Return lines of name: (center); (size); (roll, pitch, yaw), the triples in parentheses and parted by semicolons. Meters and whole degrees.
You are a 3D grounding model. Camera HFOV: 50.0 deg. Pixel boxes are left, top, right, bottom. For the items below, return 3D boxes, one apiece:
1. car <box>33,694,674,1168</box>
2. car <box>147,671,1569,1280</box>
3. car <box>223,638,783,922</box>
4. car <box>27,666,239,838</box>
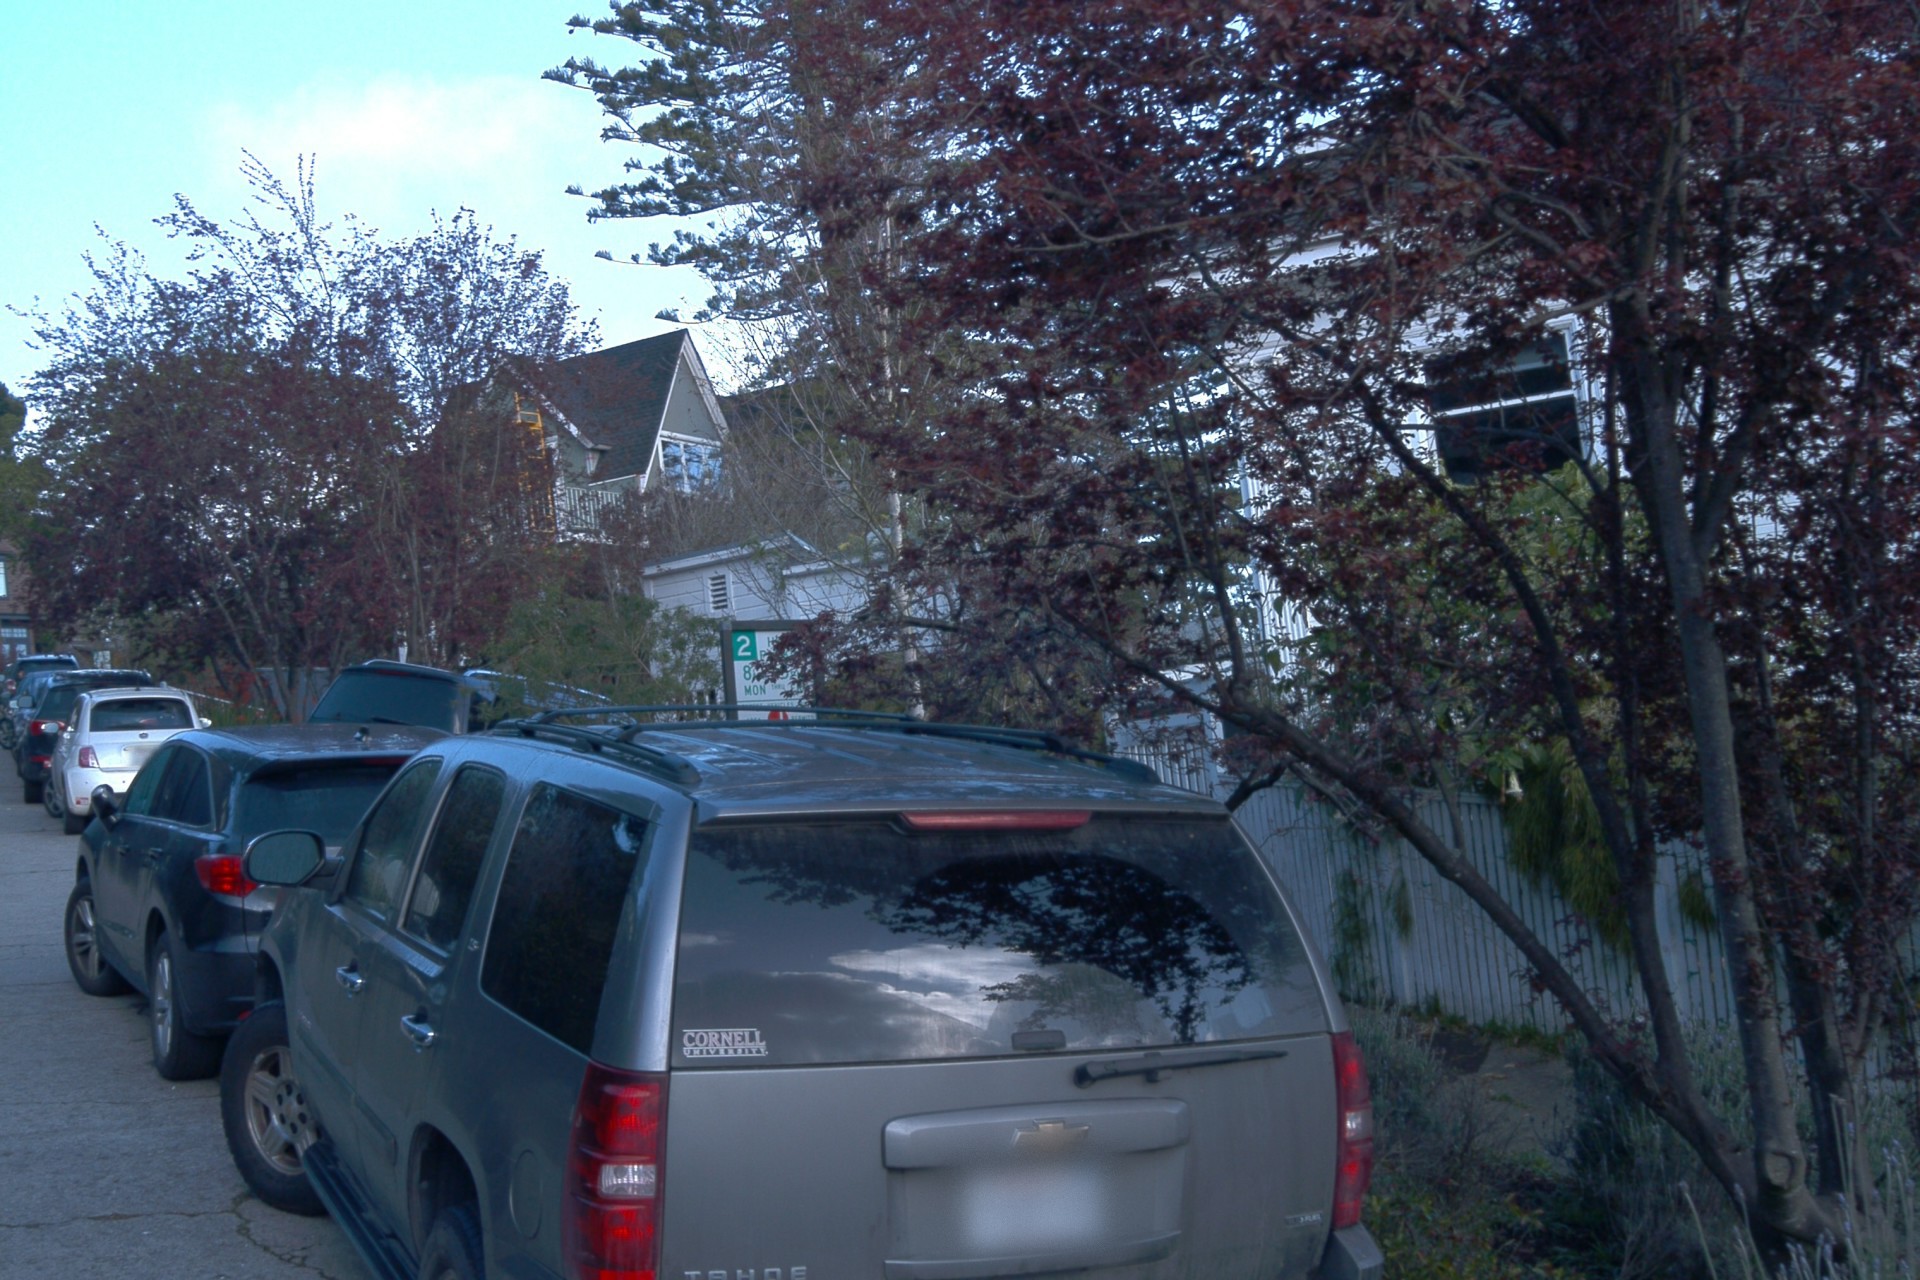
car: (-3.547, 1.262, 11.172); (2.260, 1.805, 5.059); (0, 0, -29)
car: (-0.929, 1.140, 6.500); (2.551, 2.010, 5.246); (0, 0, -27)
car: (-3.777, 1.052, 18.216); (2.290, 2.122, 5.154); (0, 0, 23)
car: (-9.235, 1.158, 22.834); (1.796, 1.690, 3.715); (0, 0, -28)
